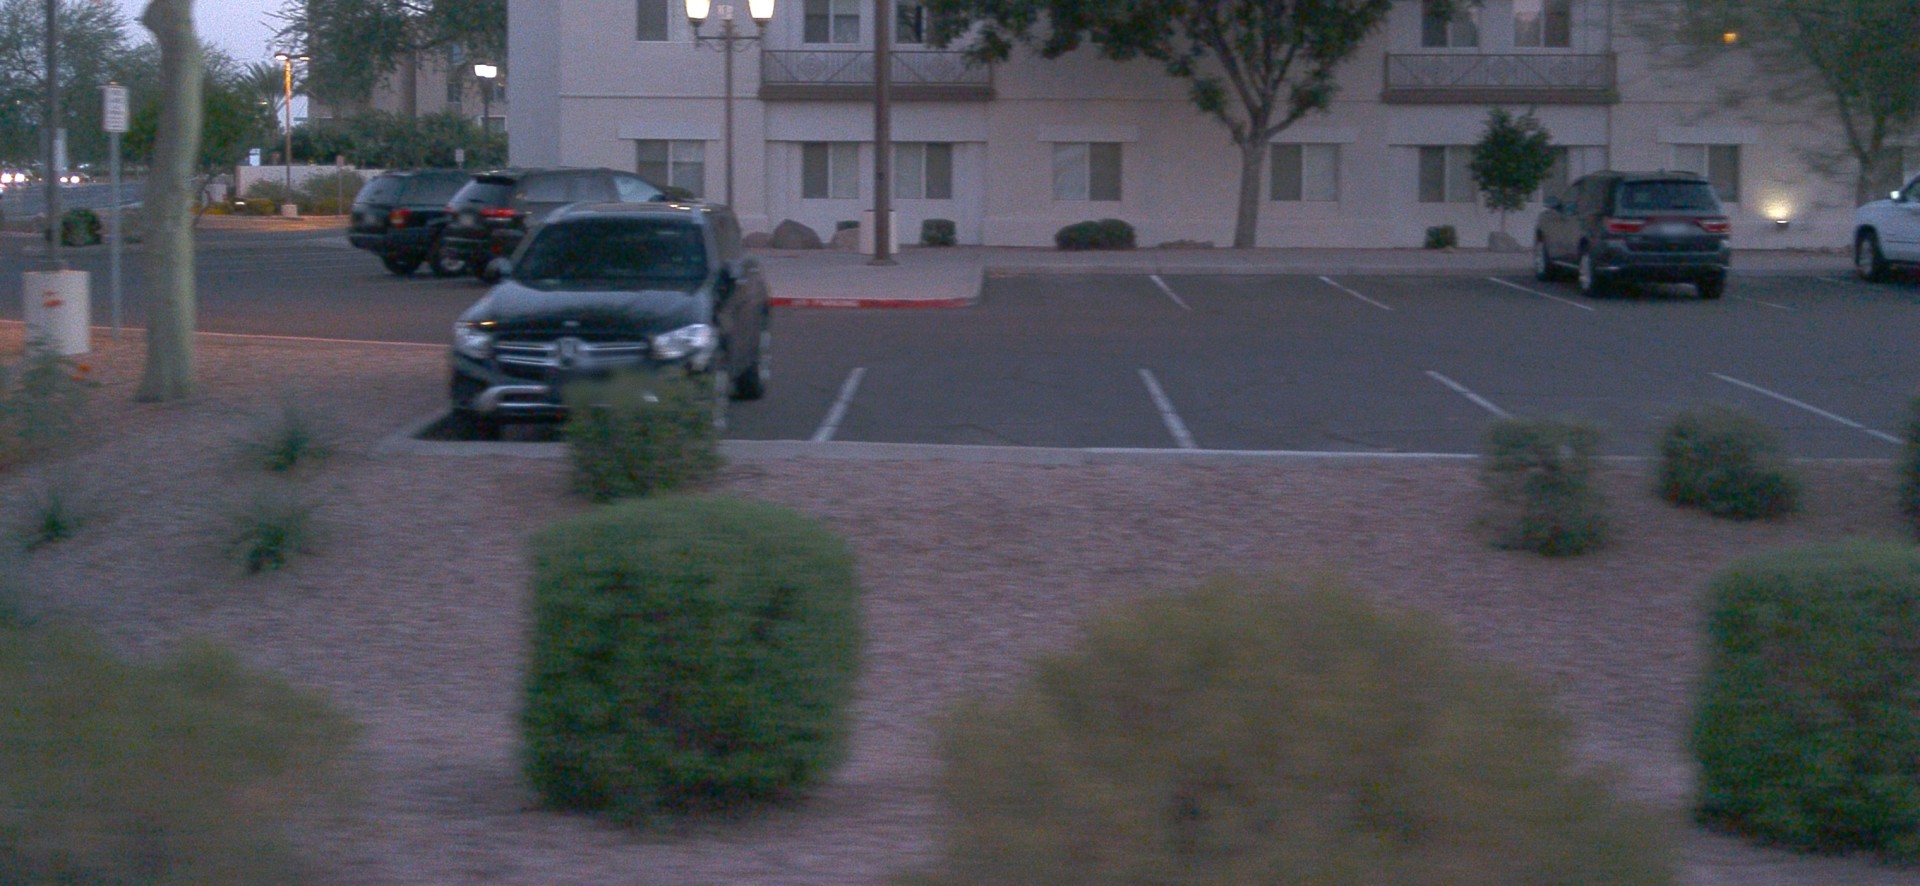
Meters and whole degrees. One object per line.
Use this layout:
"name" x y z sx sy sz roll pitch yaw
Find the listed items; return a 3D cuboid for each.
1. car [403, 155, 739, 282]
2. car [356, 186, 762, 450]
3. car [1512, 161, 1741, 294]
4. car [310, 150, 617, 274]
"car" -5.901 -3.436 31.907 4.792 1.805 2.013 -5 6 -45
"car" -2.833 -1.056 15.840 2.030 1.703 4.750 0 5 2
"car" 9.566 -3.132 30.219 2.077 1.762 5.038 0 5 4
"car" -8.156 -3.798 34.333 4.575 1.905 2.002 -5 6 -44
